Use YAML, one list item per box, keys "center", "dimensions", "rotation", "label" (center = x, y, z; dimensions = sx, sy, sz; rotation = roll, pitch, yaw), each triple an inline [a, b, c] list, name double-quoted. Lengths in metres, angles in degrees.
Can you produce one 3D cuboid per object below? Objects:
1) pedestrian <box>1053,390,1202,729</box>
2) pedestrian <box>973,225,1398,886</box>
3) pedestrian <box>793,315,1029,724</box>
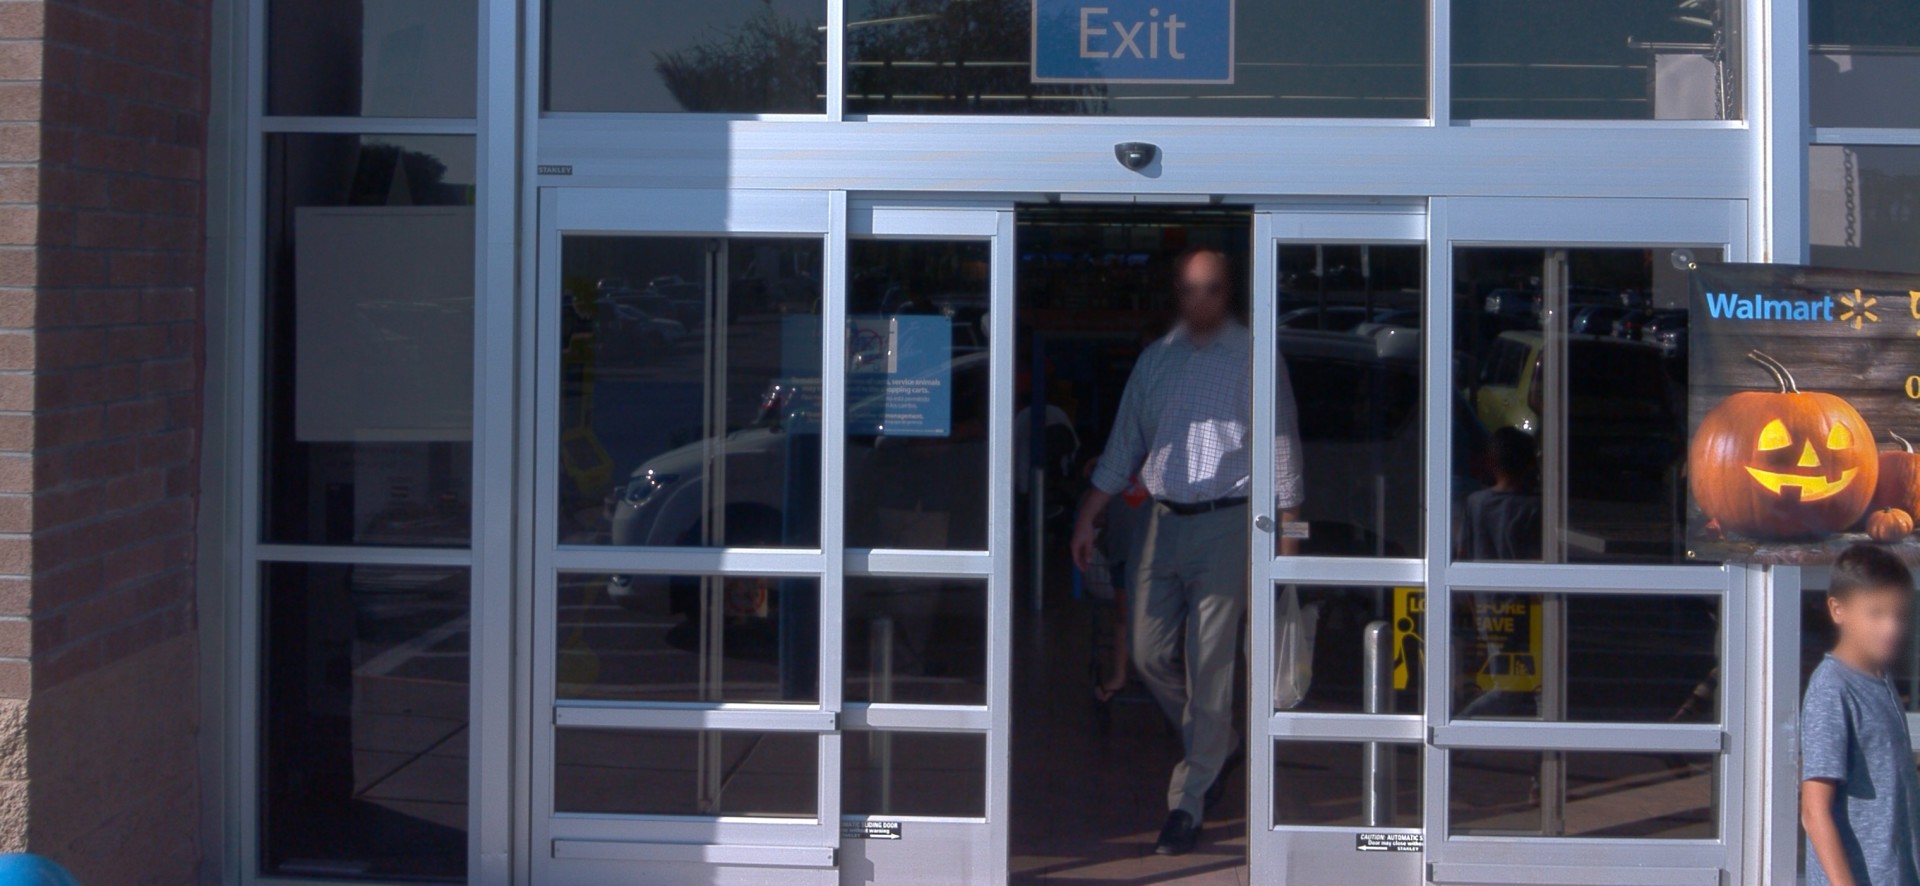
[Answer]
- center: [0.670, 0.436, 8.200]
  dimensions: [0.536, 1.240, 0.545]
  rotation: [1, 1, 9]
  label: "pedestrian"
- center: [0.792, 0.304, 6.930]
  dimensions: [1.206, 2.040, 1.140]
  rotation: [1, 1, 16]
  label: "pedestrian"
- center: [-0.228, 0.290, 9.259]
  dimensions: [0.797, 1.690, 0.782]
  rotation: [0, 1, -24]
  label: "pedestrian"
